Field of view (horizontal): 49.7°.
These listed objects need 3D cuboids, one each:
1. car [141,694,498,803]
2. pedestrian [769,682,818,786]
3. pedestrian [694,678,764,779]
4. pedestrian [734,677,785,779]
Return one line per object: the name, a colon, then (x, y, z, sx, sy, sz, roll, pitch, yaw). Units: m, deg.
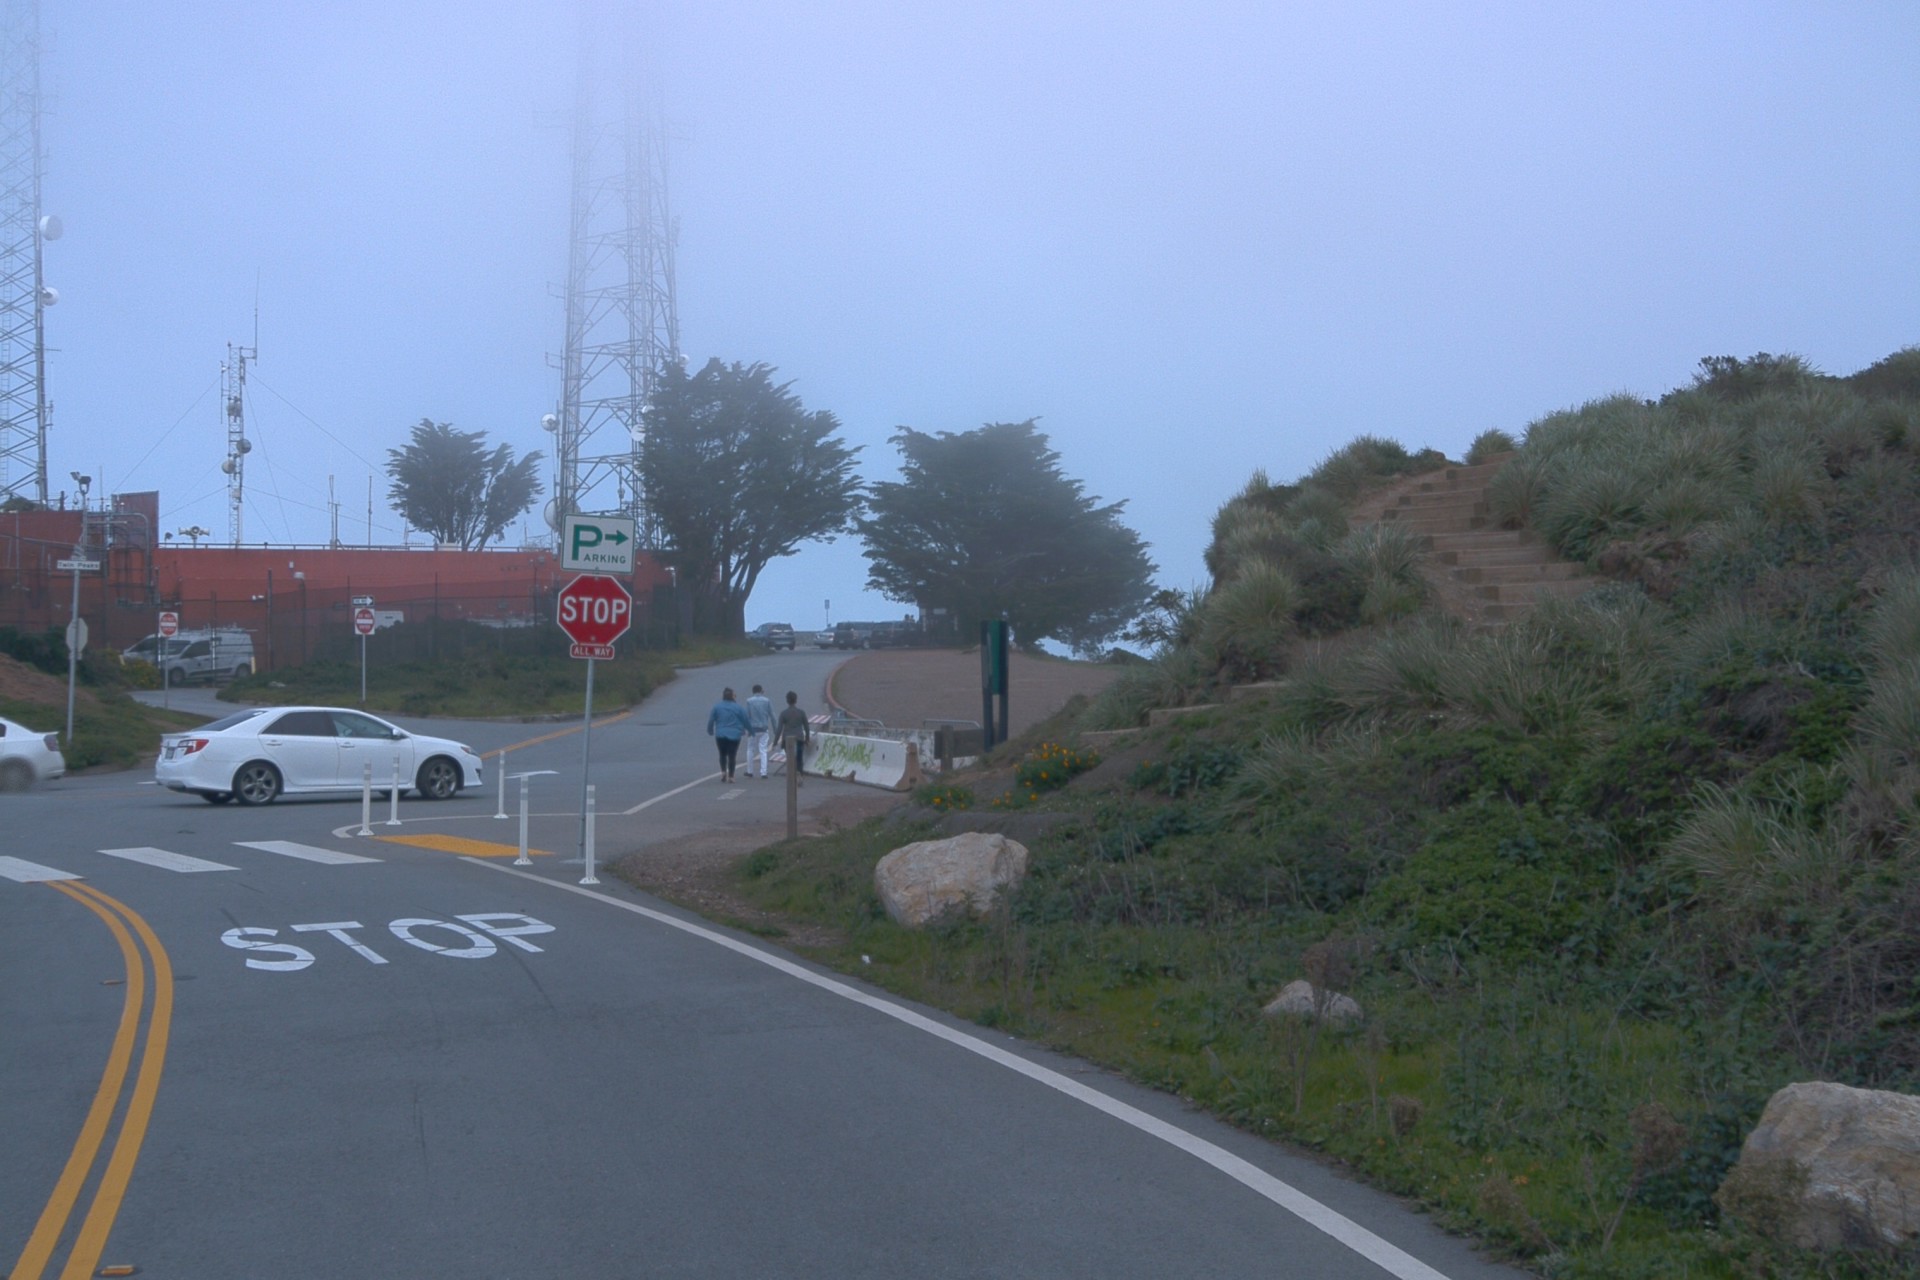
car: (-9.635, 1.575, 31.304, 4.692, 1.440, 2.175, 0, 0, -37)
pedestrian: (-2.824, 1.579, 35.053, 0.732, 1.720, 1.096, 0, 0, -10)
pedestrian: (-4.040, 1.535, 36.364, 1.110, 1.730, 1.064, 0, 0, 0)
pedestrian: (-3.613, 1.573, 37.304, 0.816, 1.790, 0.936, 0, 0, -11)
